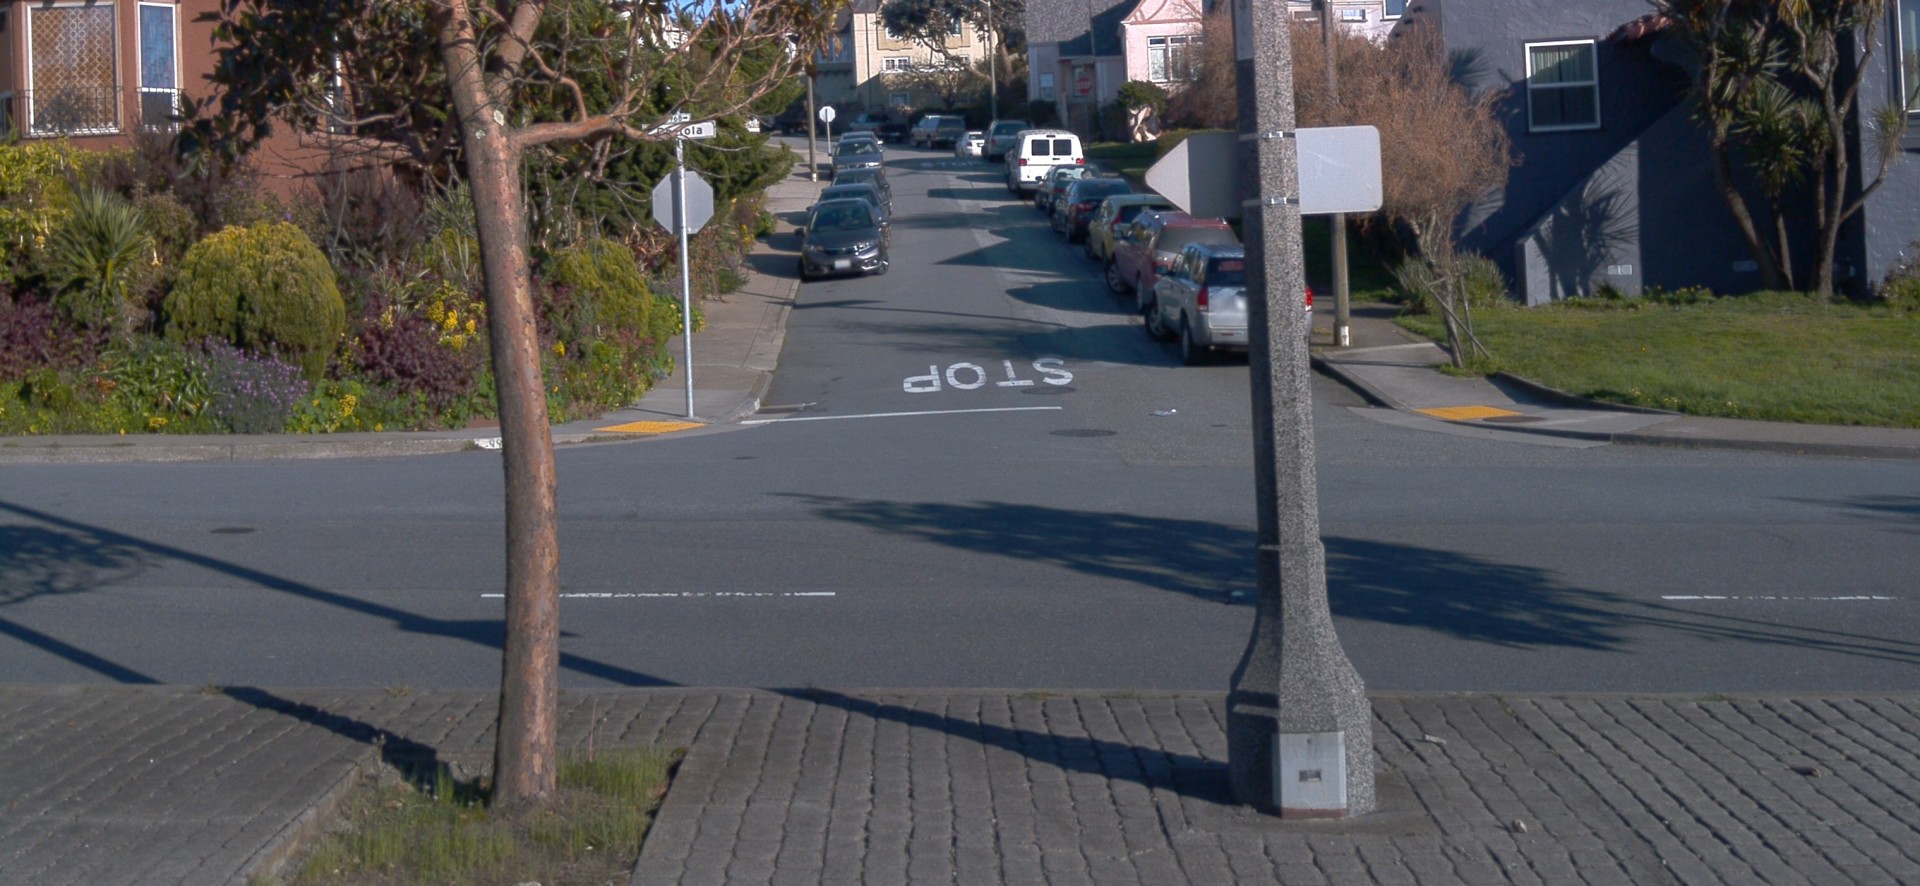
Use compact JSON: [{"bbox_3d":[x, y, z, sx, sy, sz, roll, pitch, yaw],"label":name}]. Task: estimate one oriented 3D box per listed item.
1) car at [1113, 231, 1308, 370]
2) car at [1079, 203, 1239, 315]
[{"bbox_3d":[3.599,-2.176,30.692,2.051,1.831,4.508,1,6,-4],"label":"car"},{"bbox_3d":[3.437,-3.300,36.698,2.064,1.831,4.220,0,6,-5],"label":"car"}]
